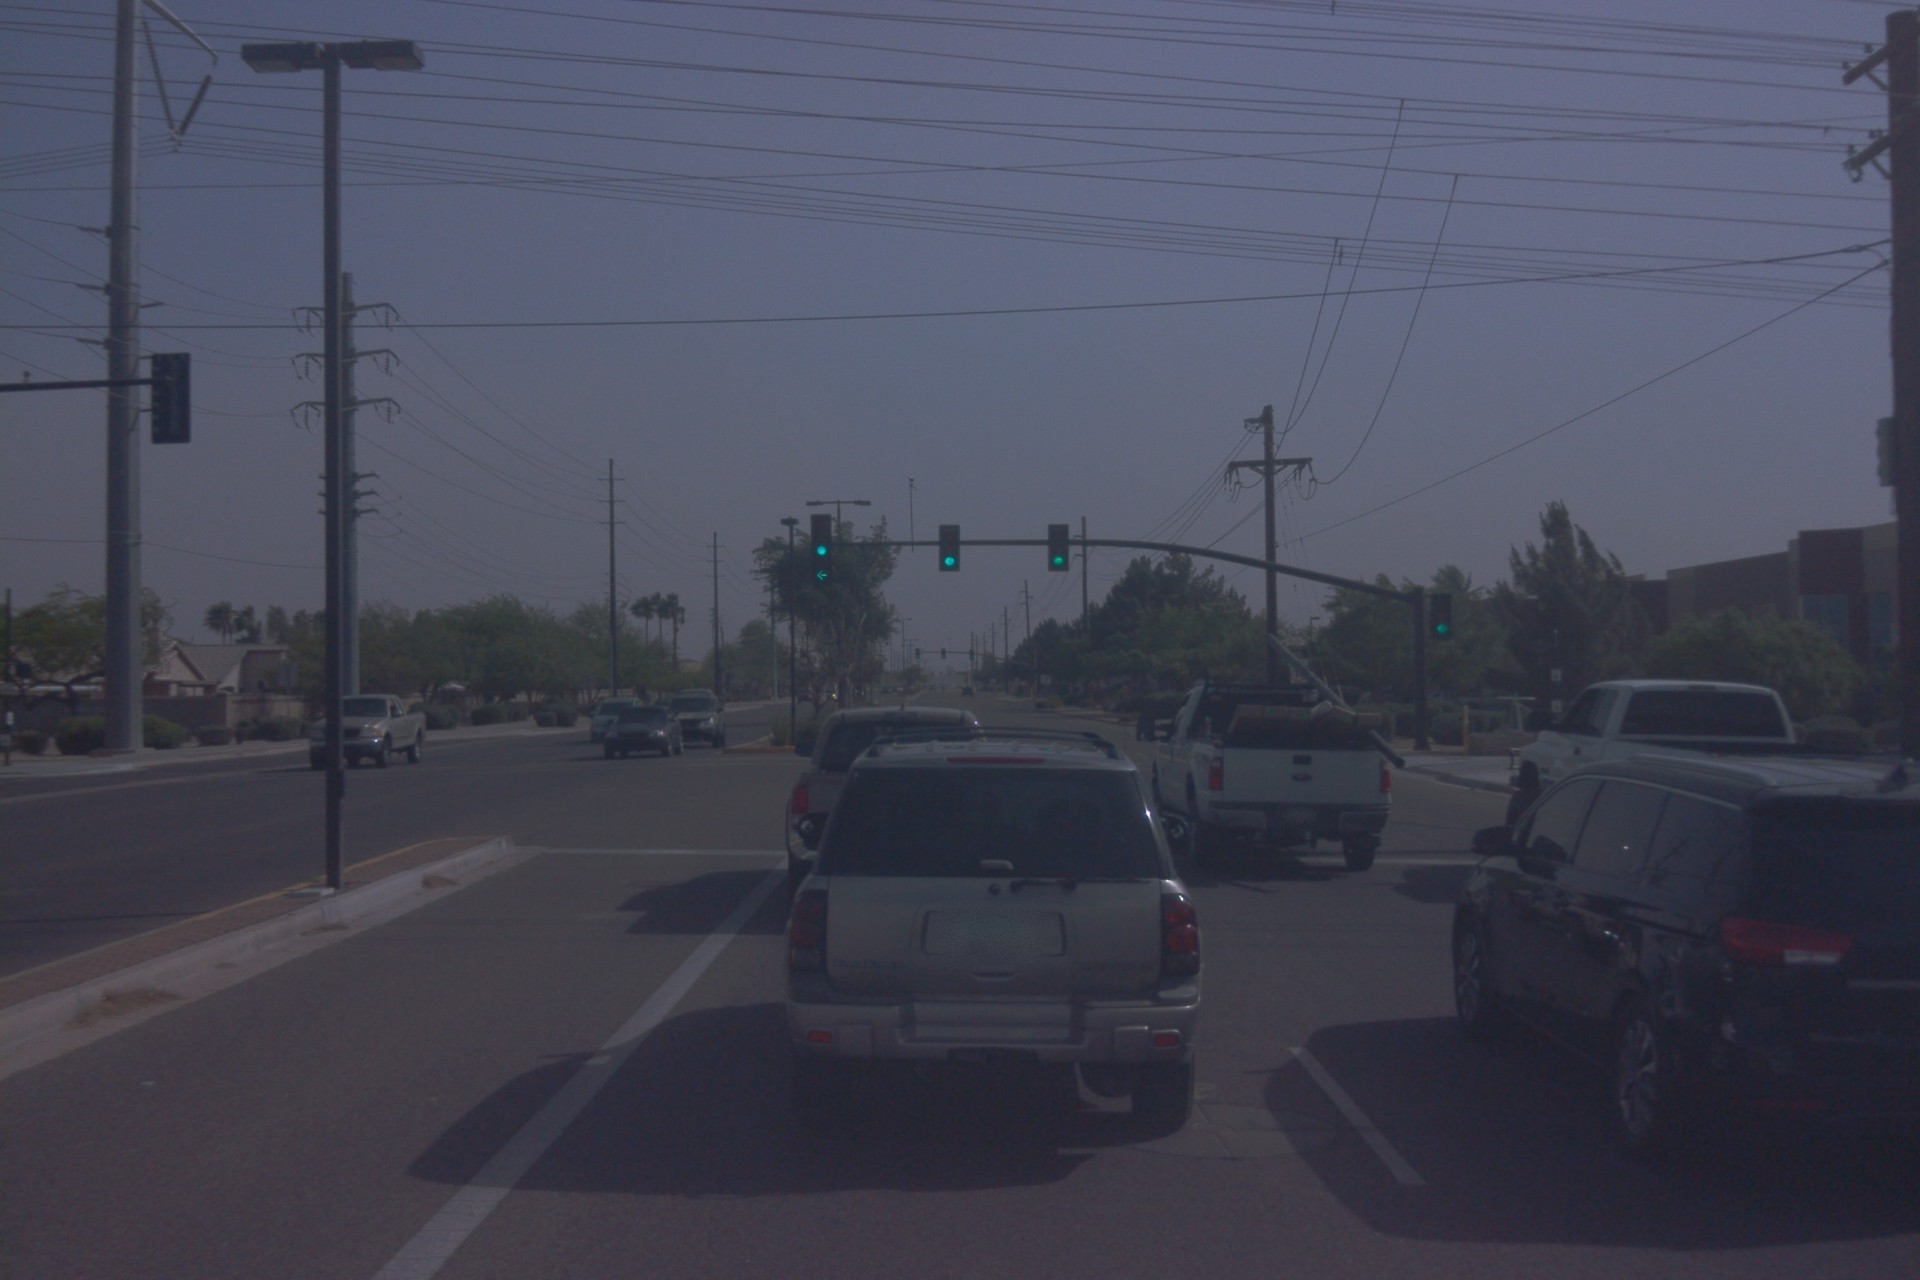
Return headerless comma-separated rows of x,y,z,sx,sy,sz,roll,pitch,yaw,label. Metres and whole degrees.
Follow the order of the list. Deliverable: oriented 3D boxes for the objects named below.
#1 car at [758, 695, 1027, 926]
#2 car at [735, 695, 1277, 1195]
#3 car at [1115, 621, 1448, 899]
-0.538,1.429,18.900,2.149,1.780,4.304,0,-1,0,car
0.177,1.309,10.848,2.201,1.960,4.684,0,-1,0,car
3.406,1.218,23.783,2.664,2.710,6.759,0,-1,-1,car
